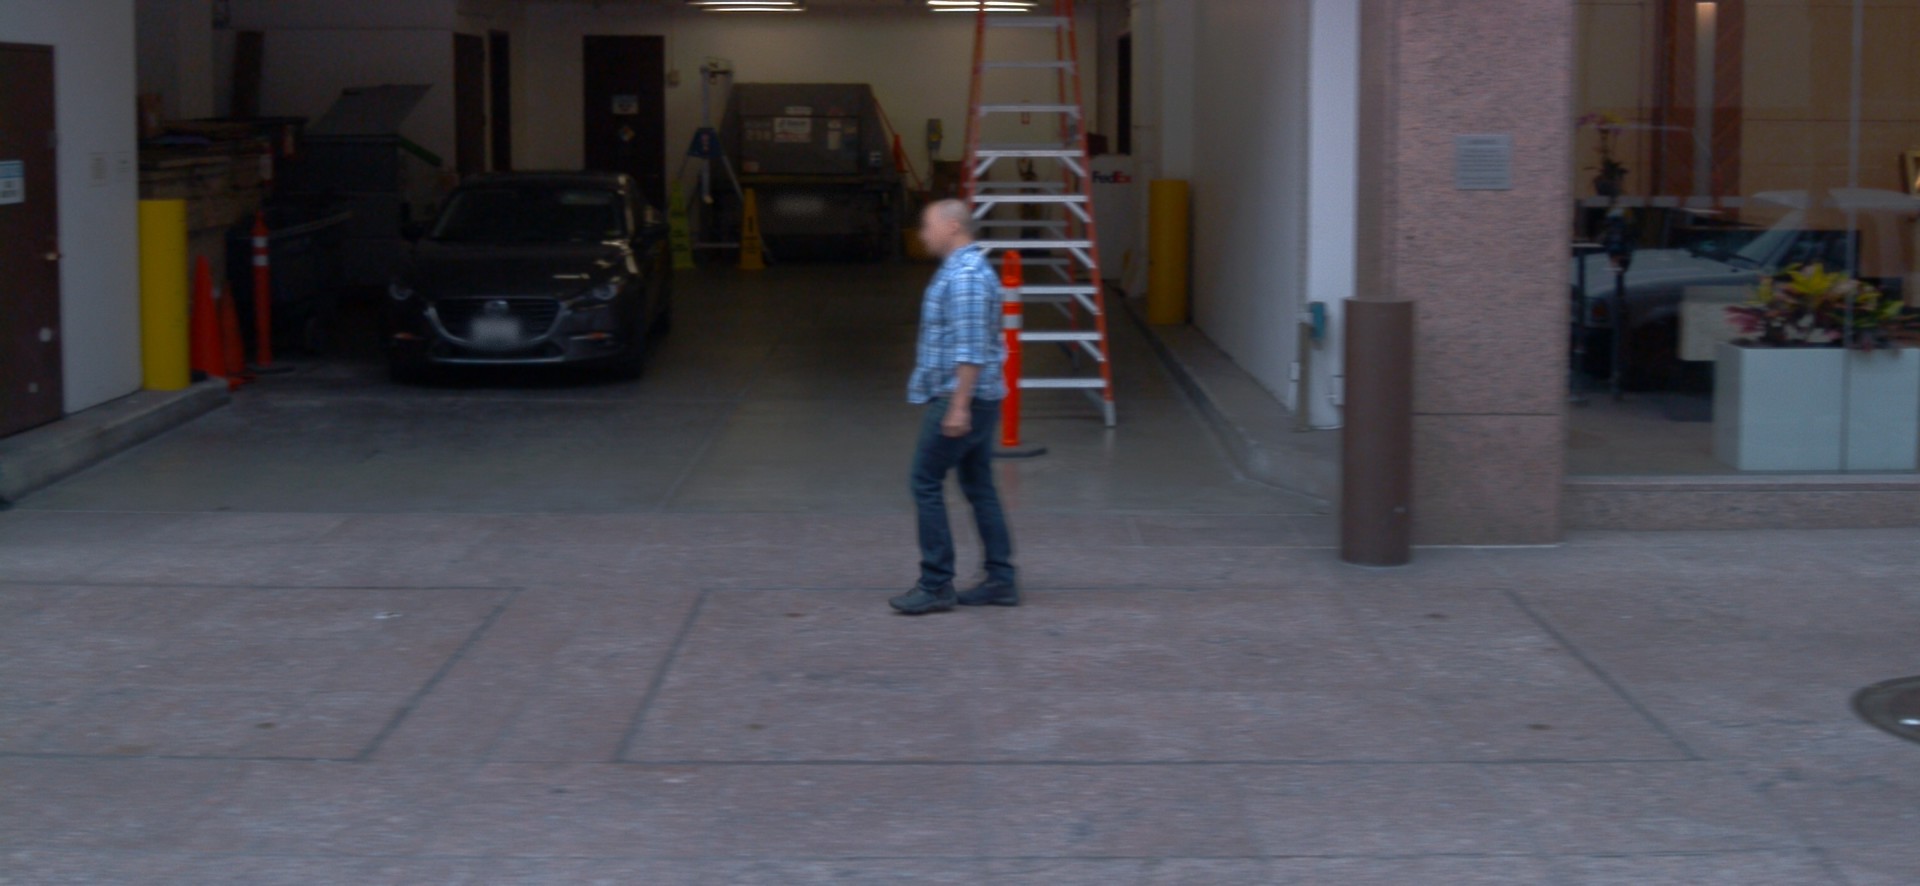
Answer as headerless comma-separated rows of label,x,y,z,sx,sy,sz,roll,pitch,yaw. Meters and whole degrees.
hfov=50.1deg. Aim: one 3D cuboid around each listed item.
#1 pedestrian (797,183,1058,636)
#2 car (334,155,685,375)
pedestrian,-0.133,-0.177,8.527,1.028,1.779,0.880,0,1,-1
car,-3.364,-1.434,16.222,2.049,1.494,4.348,0,5,-3
